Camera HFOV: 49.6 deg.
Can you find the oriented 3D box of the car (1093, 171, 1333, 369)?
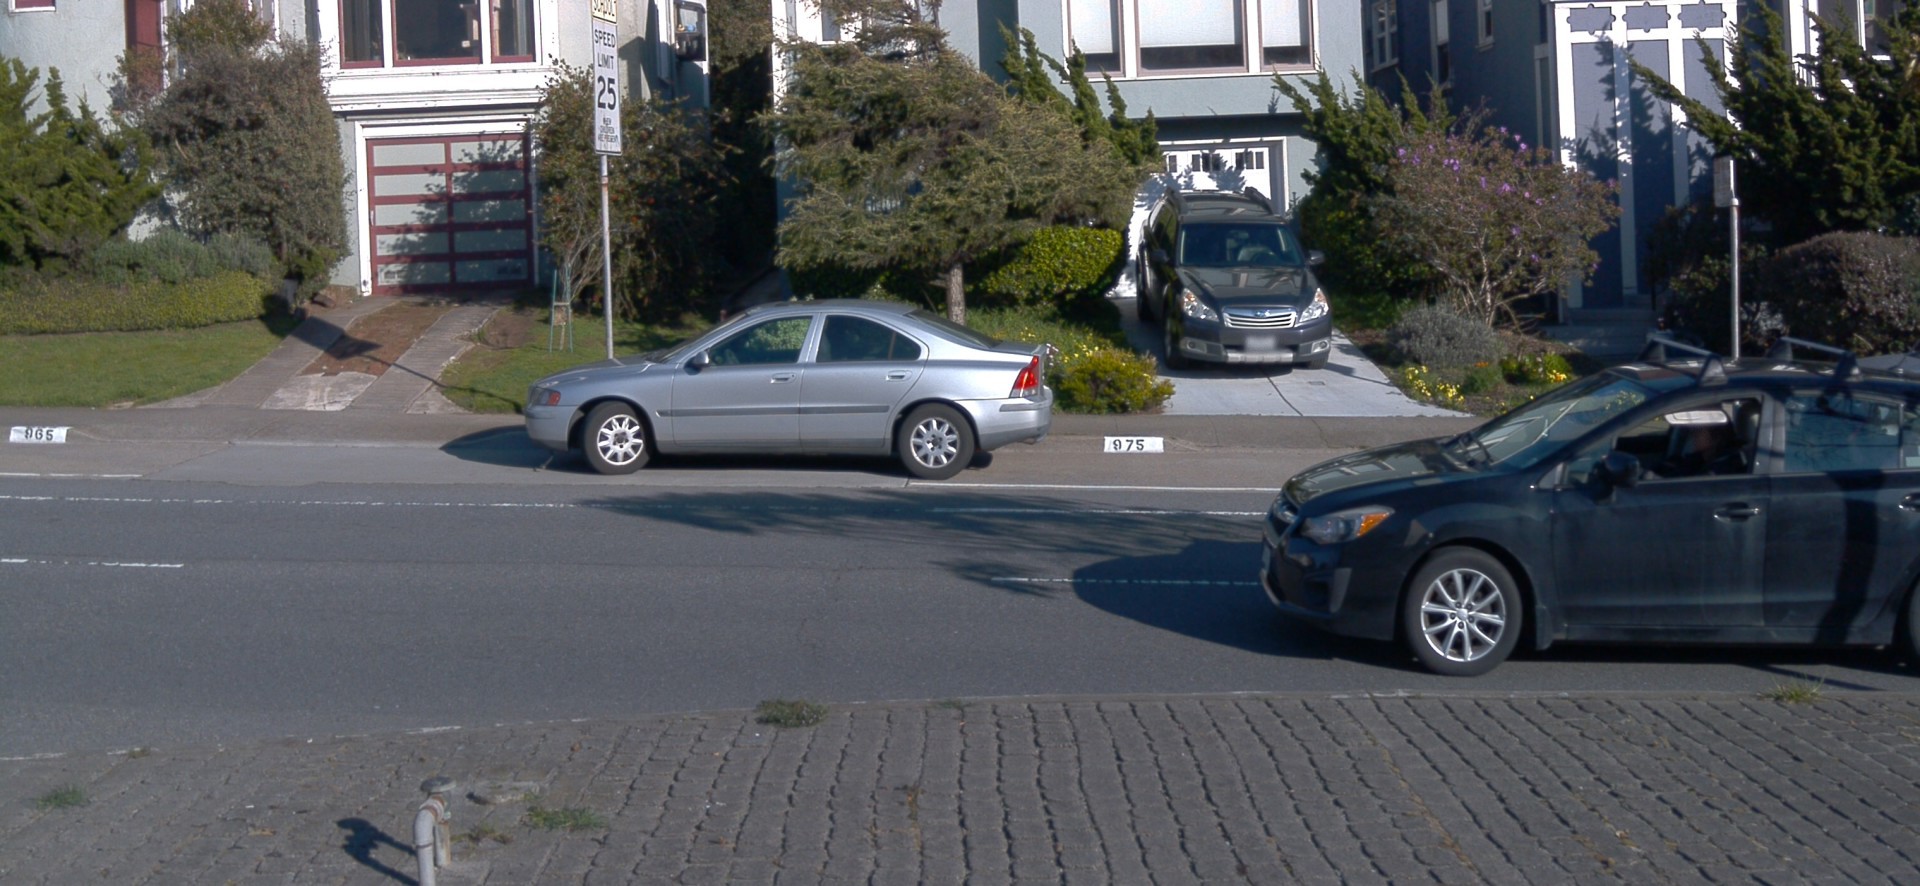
[{"bbox_3d":[2.811,-2.081,24.172,2.060,2.050,4.707,1,6,-2],"label":"car"}]

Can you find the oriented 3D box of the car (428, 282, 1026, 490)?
[{"bbox_3d":[-1.837,-0.535,17.600,4.723,1.504,2.083,1,5,2],"label":"car"}]
